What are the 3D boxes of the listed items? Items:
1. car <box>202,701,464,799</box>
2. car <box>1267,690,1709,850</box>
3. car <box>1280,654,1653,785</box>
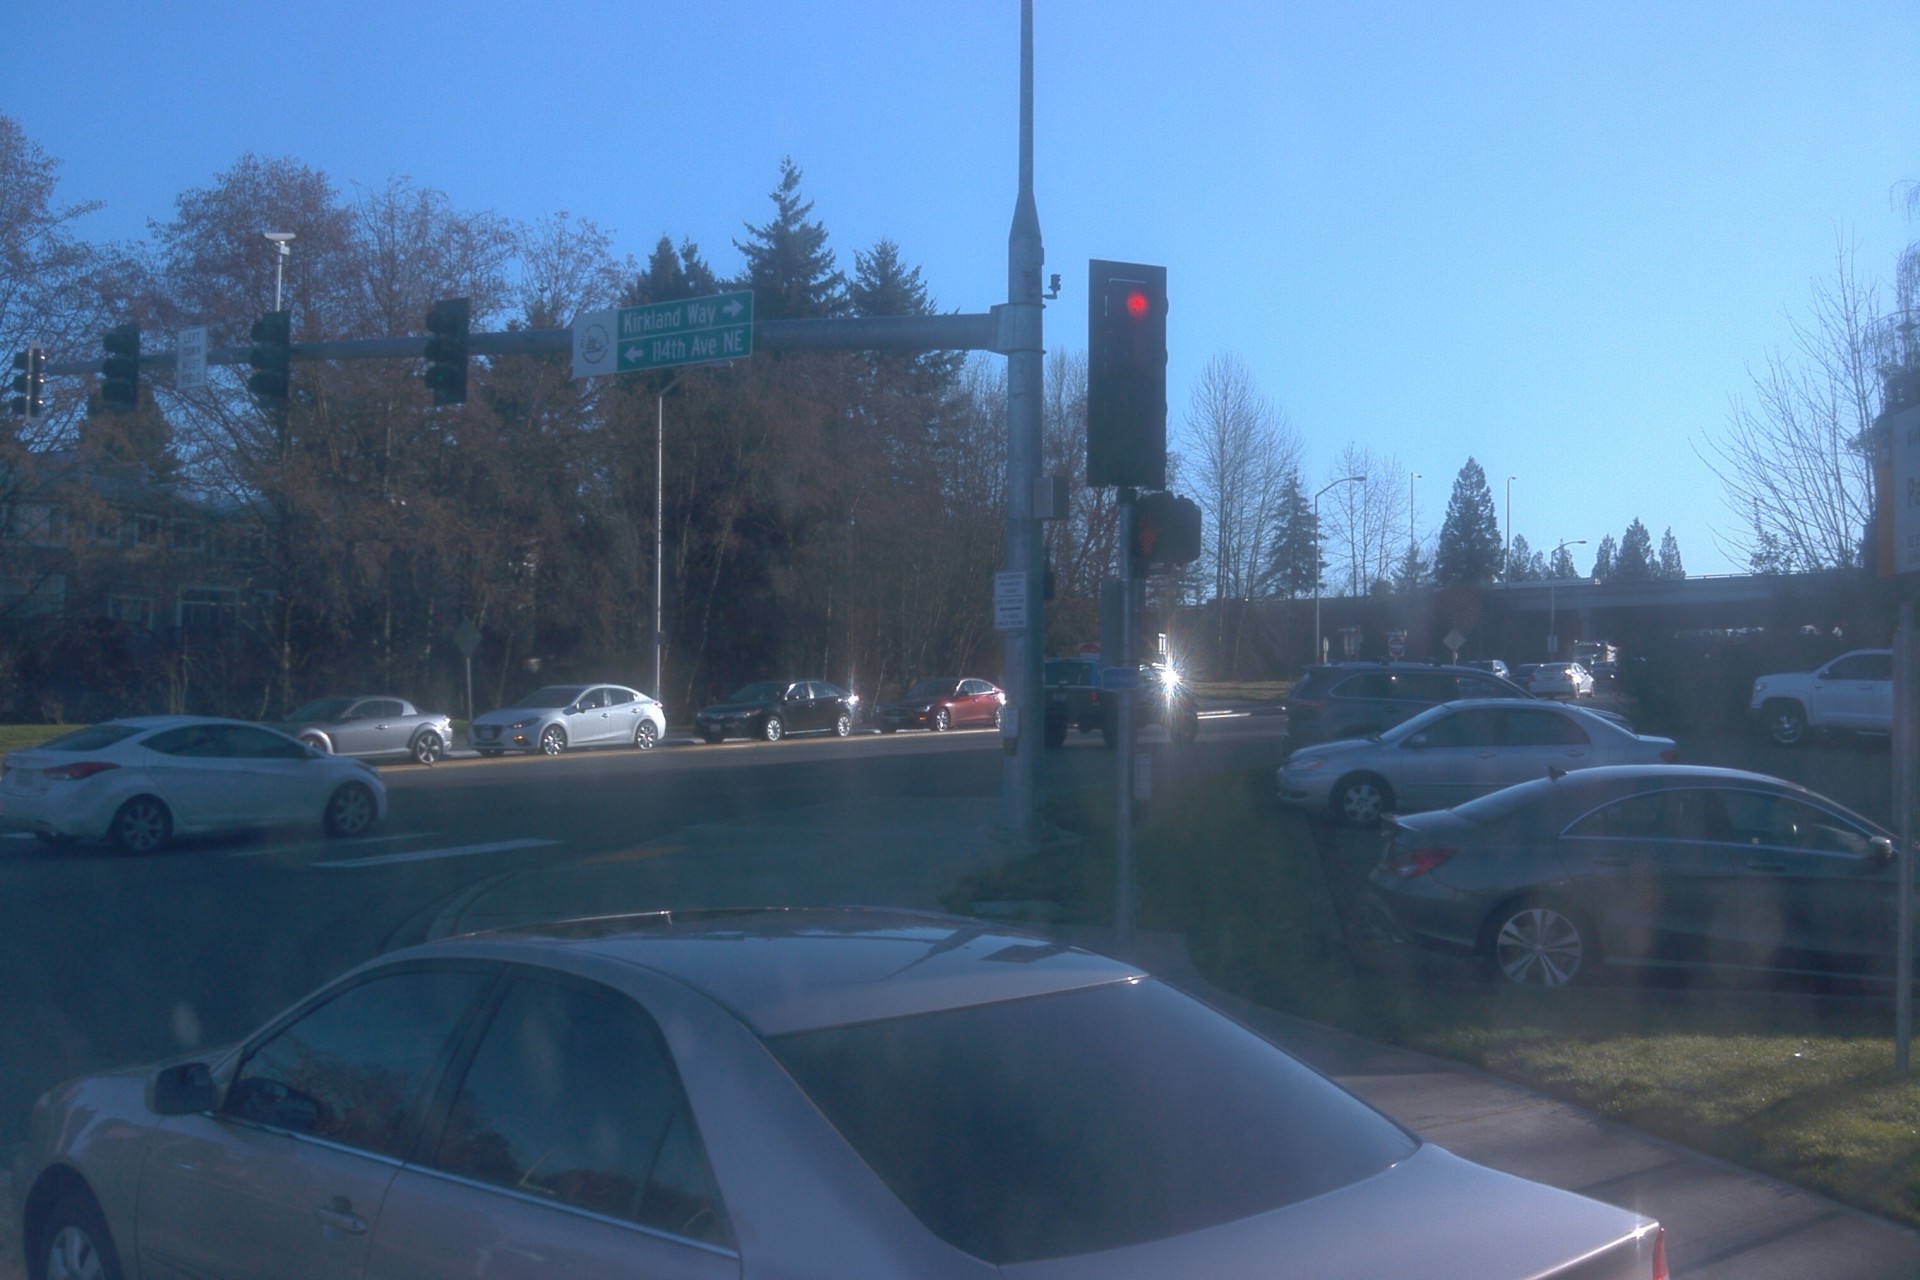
[{"bbox_3d":[-11.046,1.897,36.344,1.817,1.450,4.298,1,1,32],"label":"car"},{"bbox_3d":[5.908,1.440,23.459,4.657,1.620,2.051,0,0,7],"label":"car"},{"bbox_3d":[7.007,1.075,28.821,4.869,1.700,2.043,0,0,7],"label":"car"}]
